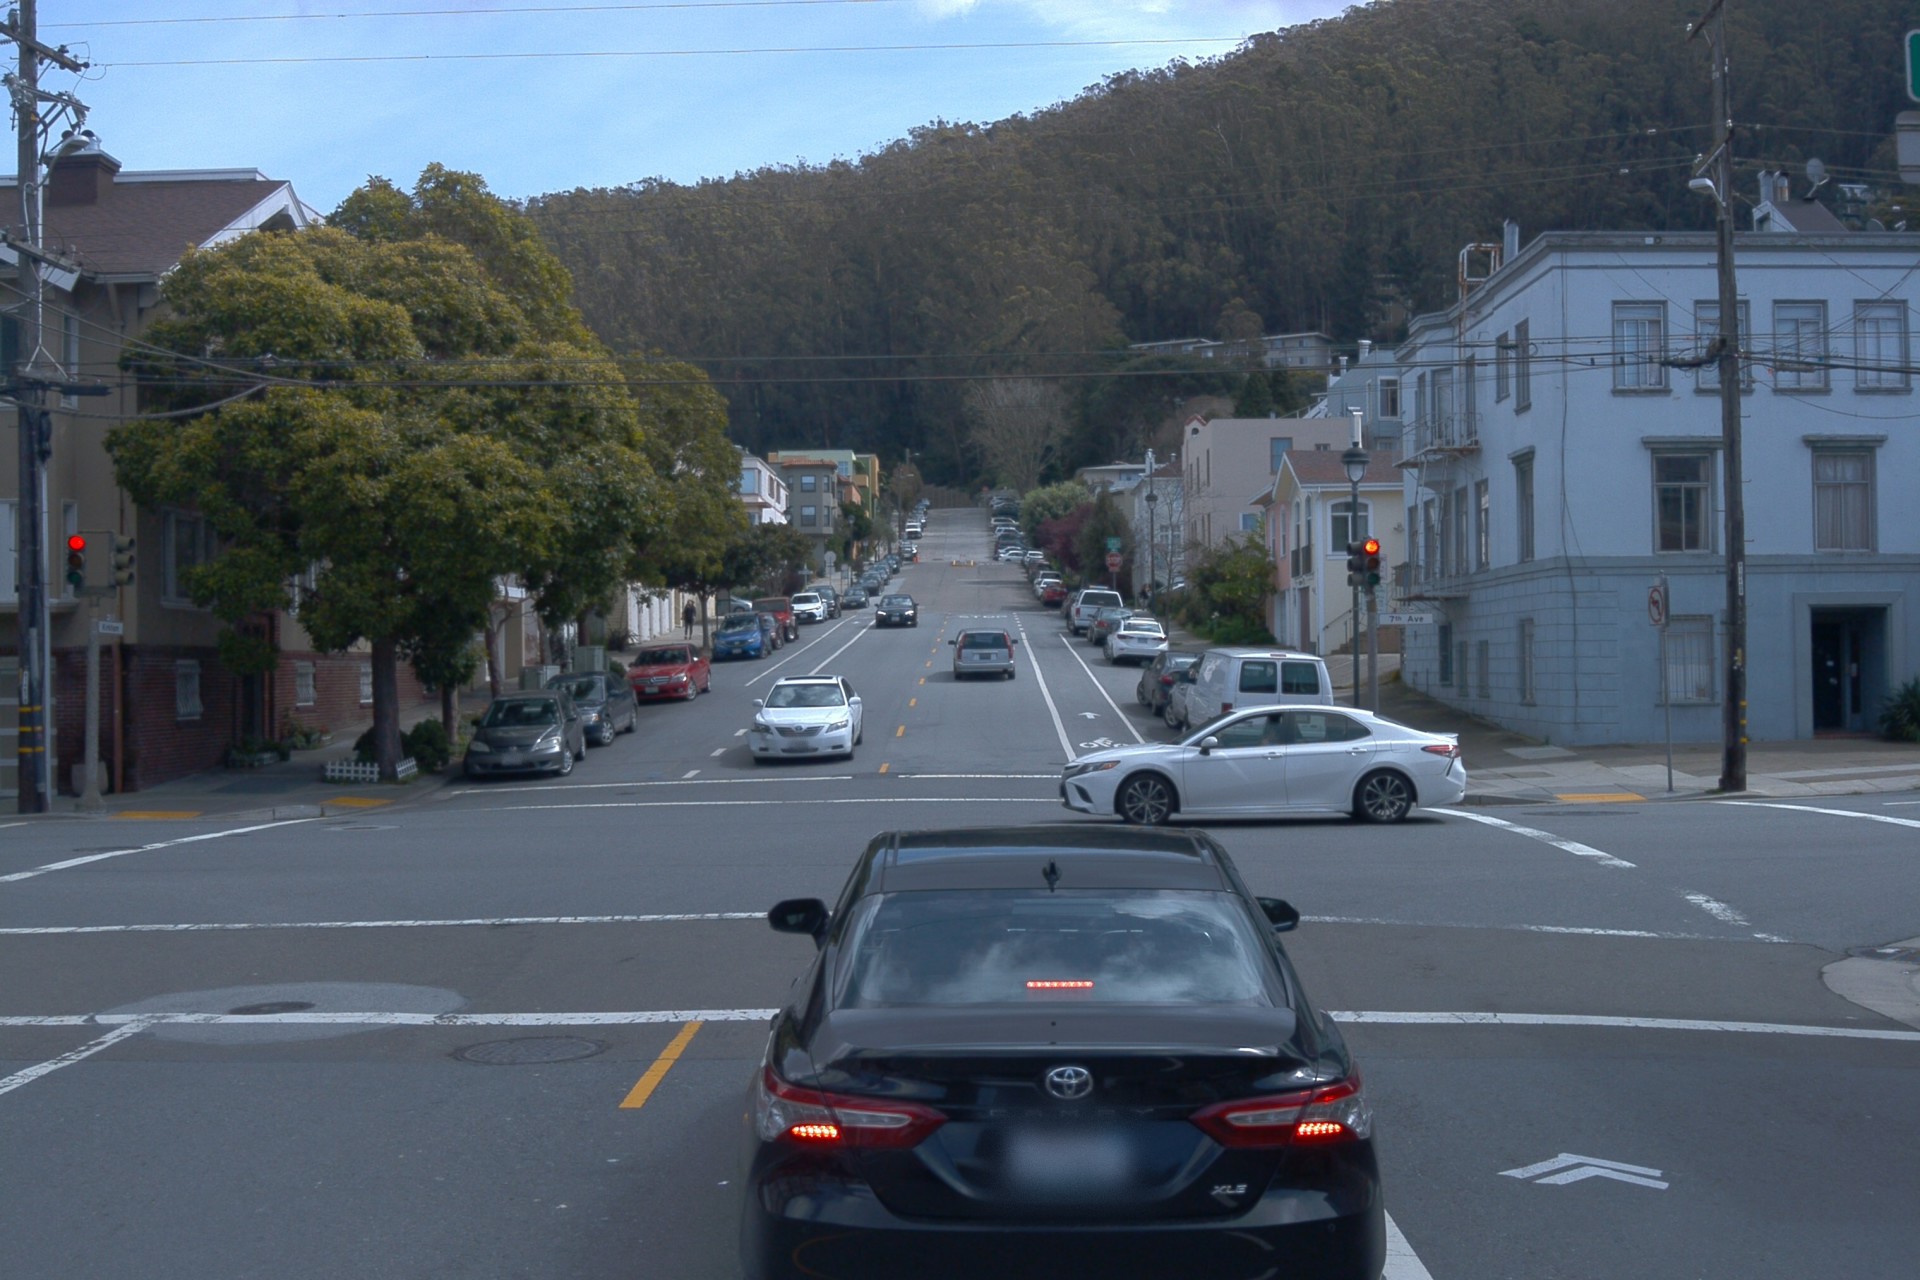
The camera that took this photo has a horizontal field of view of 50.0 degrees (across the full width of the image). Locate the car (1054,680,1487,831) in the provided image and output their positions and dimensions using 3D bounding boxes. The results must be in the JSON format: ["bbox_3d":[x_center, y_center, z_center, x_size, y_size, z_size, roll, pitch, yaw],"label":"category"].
[{"bbox_3d":[3.638,1.356,24.898,4.938,1.690,2.136,0,0,1],"label":"car"}]

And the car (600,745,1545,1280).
[{"bbox_3d":[0.282,1.303,7.305,2.249,1.620,4.798,0,0,0],"label":"car"}]

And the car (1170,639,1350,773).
[{"bbox_3d":[5.312,1.113,37.233,2.299,2.250,5.313,0,0,-2],"label":"car"}]

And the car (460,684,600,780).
[{"bbox_3d":[-7.708,1.615,37.254,1.836,1.560,4.133,0,0,-3],"label":"car"}]
